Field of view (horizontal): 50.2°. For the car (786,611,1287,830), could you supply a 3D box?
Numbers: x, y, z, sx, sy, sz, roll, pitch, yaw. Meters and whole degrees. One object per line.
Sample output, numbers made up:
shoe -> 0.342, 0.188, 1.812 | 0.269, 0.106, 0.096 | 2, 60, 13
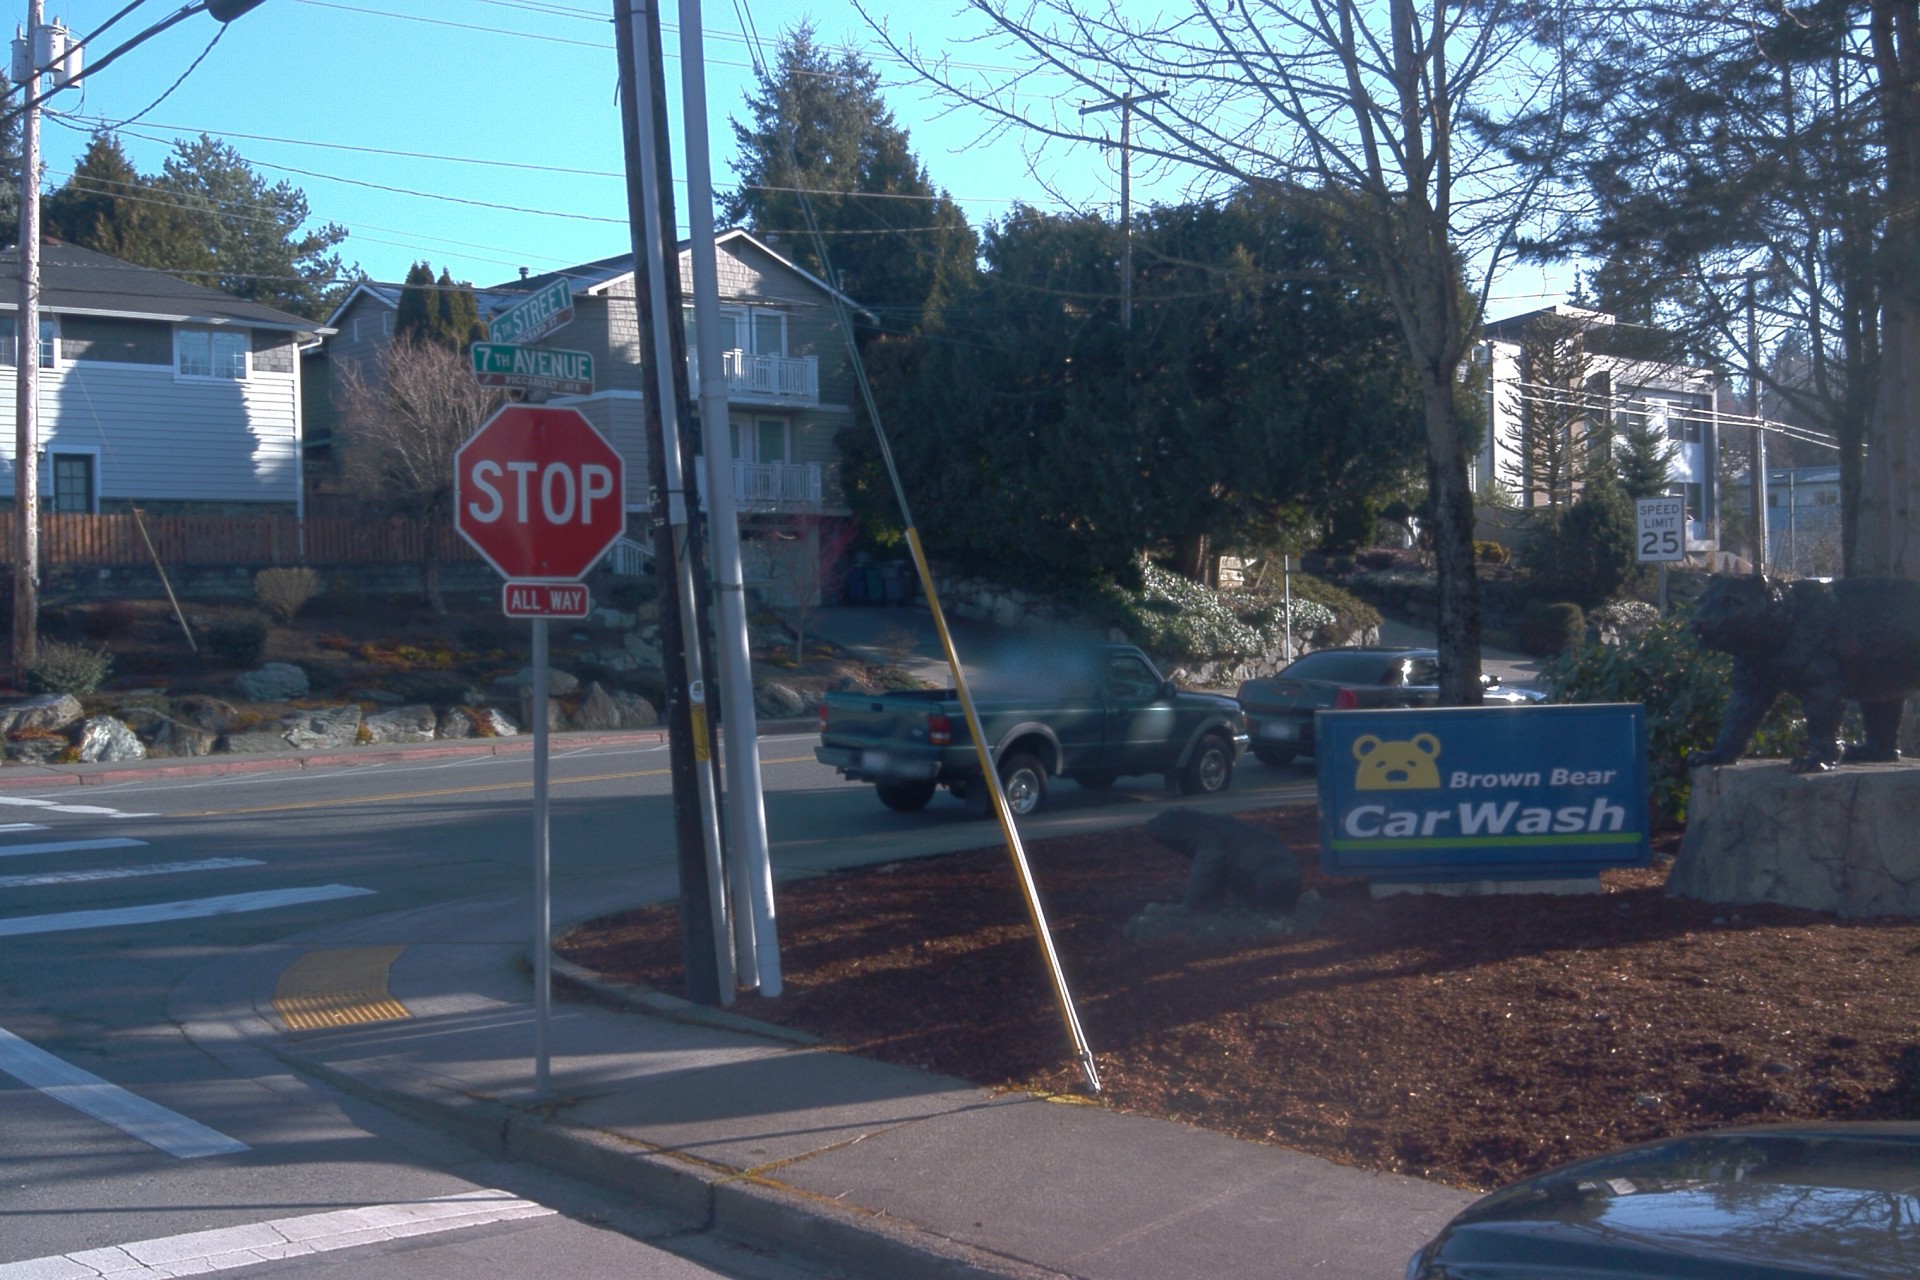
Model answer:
car -> 0.901, 0.692, 20.495 | 2.128, 1.920, 5.099 | 1, 1, 44

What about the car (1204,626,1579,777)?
car -> 5.351, 0.668, 24.963 | 4.858, 1.660, 2.112 | 0, 1, -44
